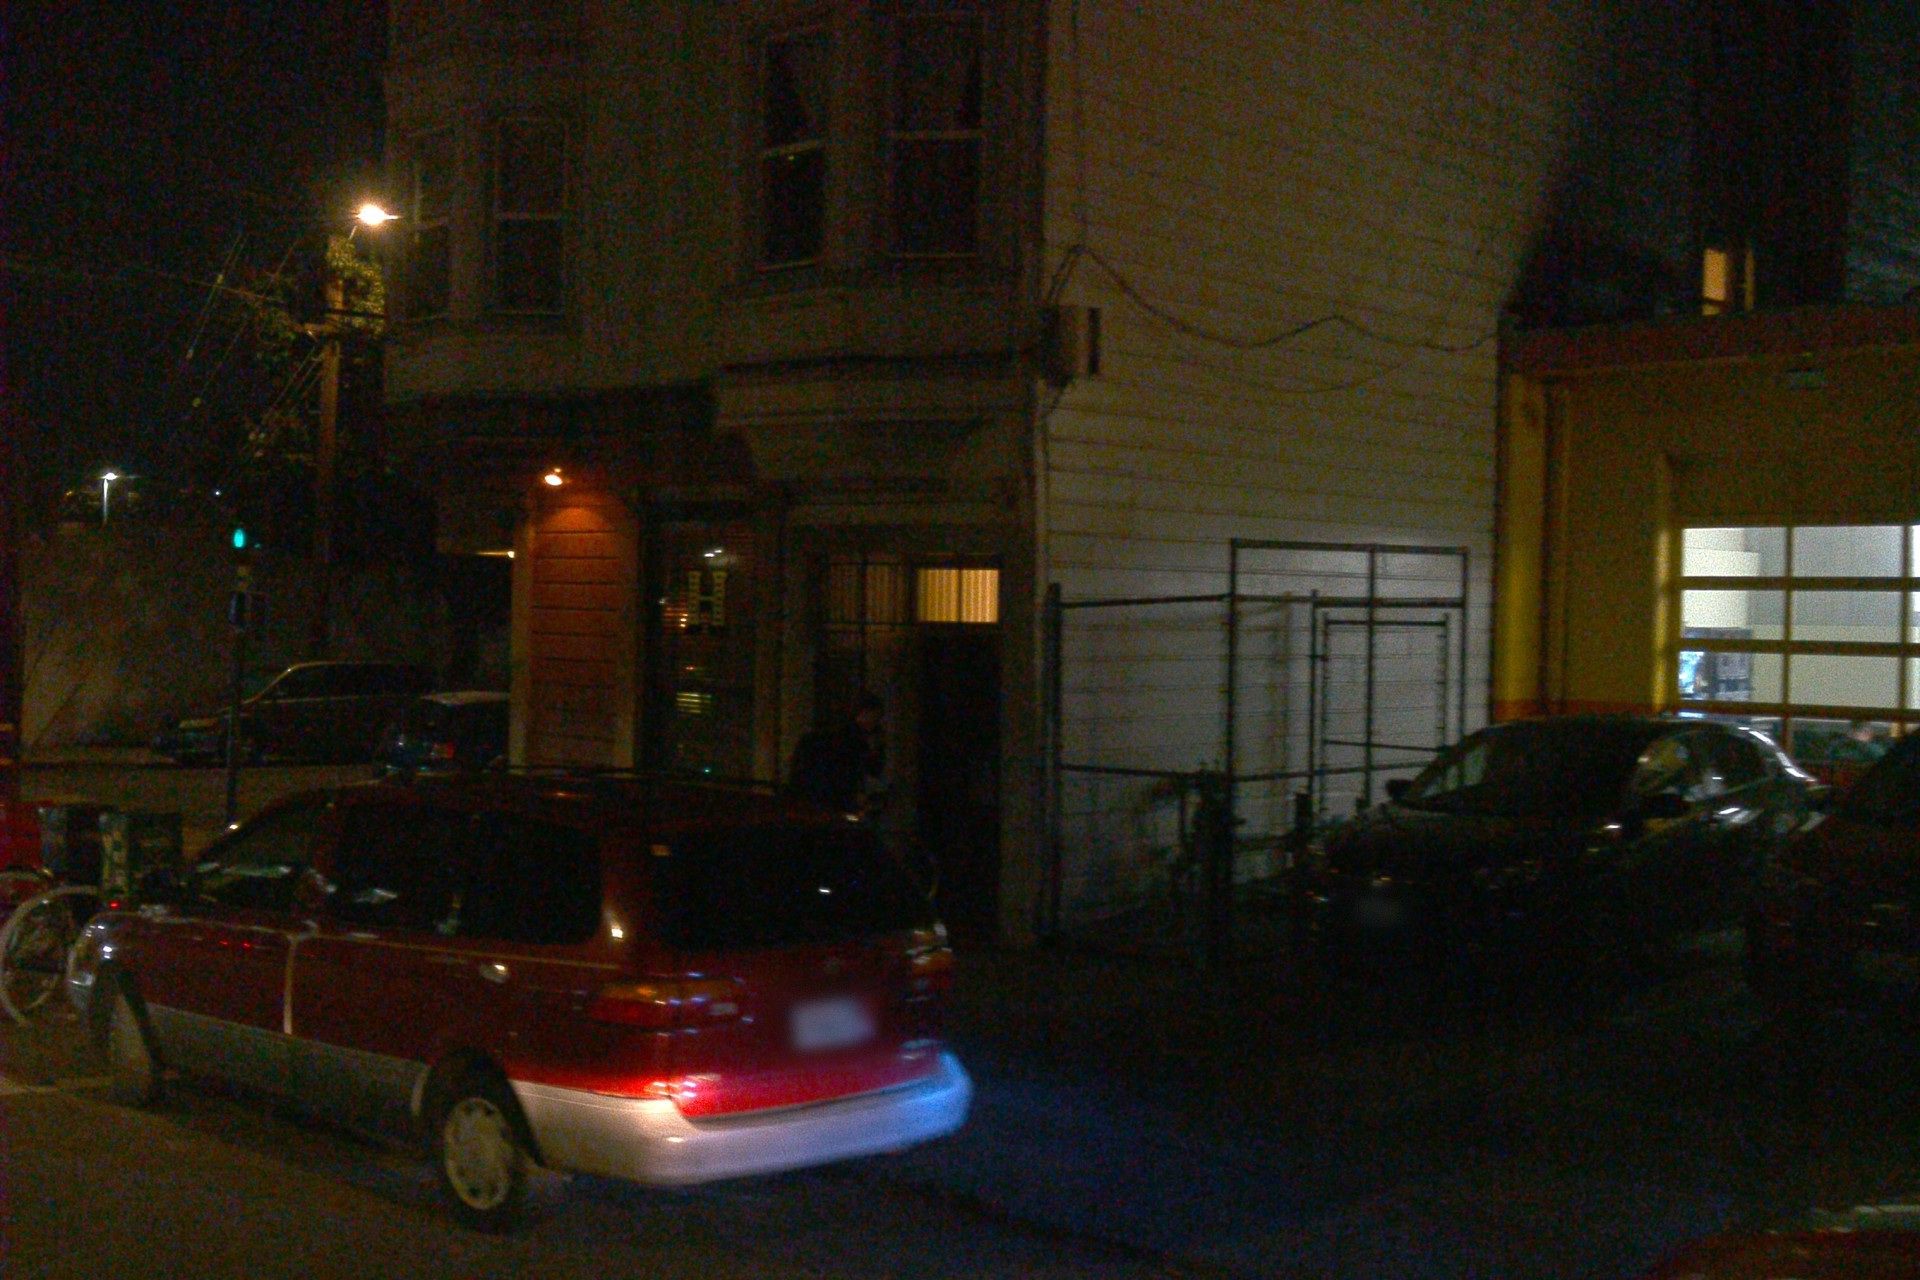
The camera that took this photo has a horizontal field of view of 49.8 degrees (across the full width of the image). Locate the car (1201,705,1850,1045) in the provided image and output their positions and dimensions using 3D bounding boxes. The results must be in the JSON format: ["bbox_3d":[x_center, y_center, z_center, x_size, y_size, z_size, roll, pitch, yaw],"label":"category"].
[{"bbox_3d":[3.747,1.314,13.242,2.087,1.710,4.415,0,-1,45],"label":"car"}]

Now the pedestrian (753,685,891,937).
[{"bbox_3d":[-1.015,1.240,15.327,0.871,1.799,0.772,0,0,10],"label":"pedestrian"}]

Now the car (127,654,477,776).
[{"bbox_3d":[-10.739,1.178,34.079,5.086,1.850,2.098,1,-1,-45],"label":"car"}]

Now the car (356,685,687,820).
[{"bbox_3d":[-5.646,1.393,26.903,3.809,1.590,1.825,1,-1,-44],"label":"car"}]
